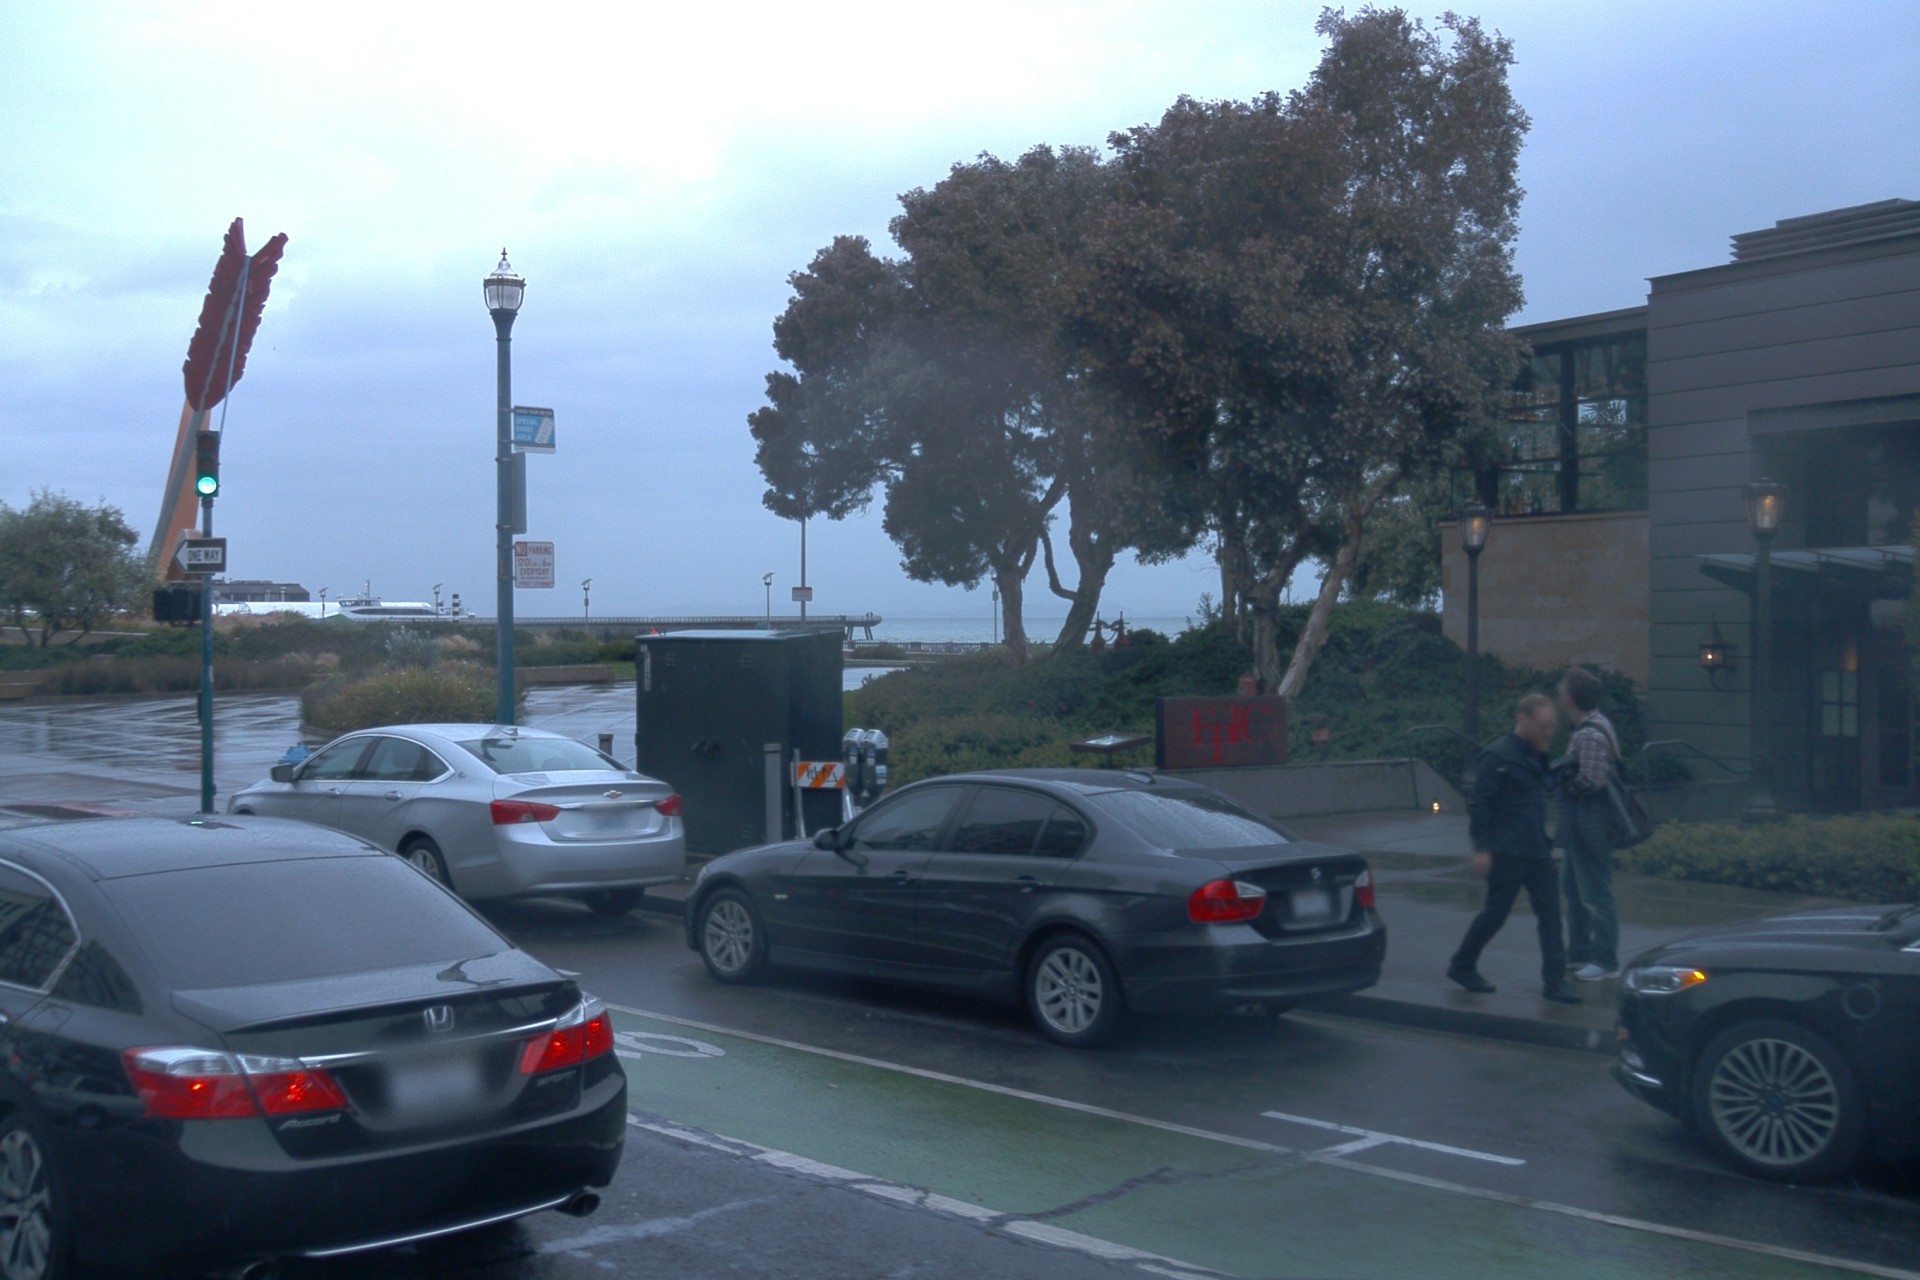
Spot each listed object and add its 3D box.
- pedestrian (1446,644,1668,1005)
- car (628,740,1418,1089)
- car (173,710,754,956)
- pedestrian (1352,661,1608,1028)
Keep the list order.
[{"bbox_3d":[3.549,1.056,12.415,1.059,2.050,1.160,0,-1,5],"label":"pedestrian"},{"bbox_3d":[0.213,1.446,12.395,4.533,1.500,2.063,0,-1,45],"label":"car"},{"bbox_3d":[-4.195,1.421,16.913,5.141,1.550,2.230,0,-1,45],"label":"car"},{"bbox_3d":[2.982,1.093,11.804,1.061,1.939,1.255,0,-1,33],"label":"pedestrian"}]
